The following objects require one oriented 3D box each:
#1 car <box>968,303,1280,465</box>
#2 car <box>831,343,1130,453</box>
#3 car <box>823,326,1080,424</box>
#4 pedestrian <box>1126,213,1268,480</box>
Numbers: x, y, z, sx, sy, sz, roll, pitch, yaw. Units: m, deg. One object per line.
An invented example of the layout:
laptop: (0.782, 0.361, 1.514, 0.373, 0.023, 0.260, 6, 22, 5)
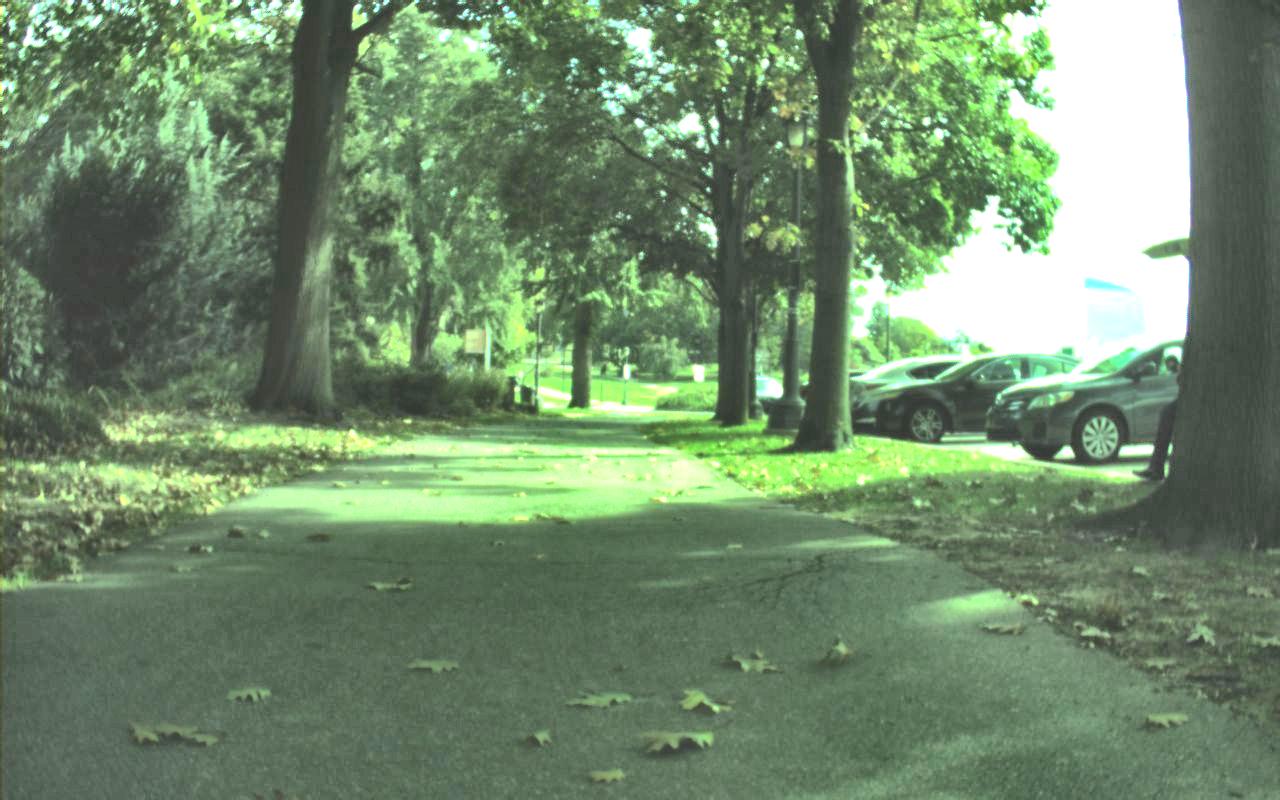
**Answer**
car: (6.149, -0.168, 13.674, 4.473, 1.649, 1.969, 0, 1, -7)
car: (5.365, -0.037, 19.480, 4.455, 1.616, 1.978, 0, 1, -4)
car: (5.681, -0.434, 22.675, 4.411, 1.680, 1.961, 0, 1, -6)
pedestrian: (4.120, -0.368, 8.642, 0.961, 1.880, 0.897, 1, 0, 12)
